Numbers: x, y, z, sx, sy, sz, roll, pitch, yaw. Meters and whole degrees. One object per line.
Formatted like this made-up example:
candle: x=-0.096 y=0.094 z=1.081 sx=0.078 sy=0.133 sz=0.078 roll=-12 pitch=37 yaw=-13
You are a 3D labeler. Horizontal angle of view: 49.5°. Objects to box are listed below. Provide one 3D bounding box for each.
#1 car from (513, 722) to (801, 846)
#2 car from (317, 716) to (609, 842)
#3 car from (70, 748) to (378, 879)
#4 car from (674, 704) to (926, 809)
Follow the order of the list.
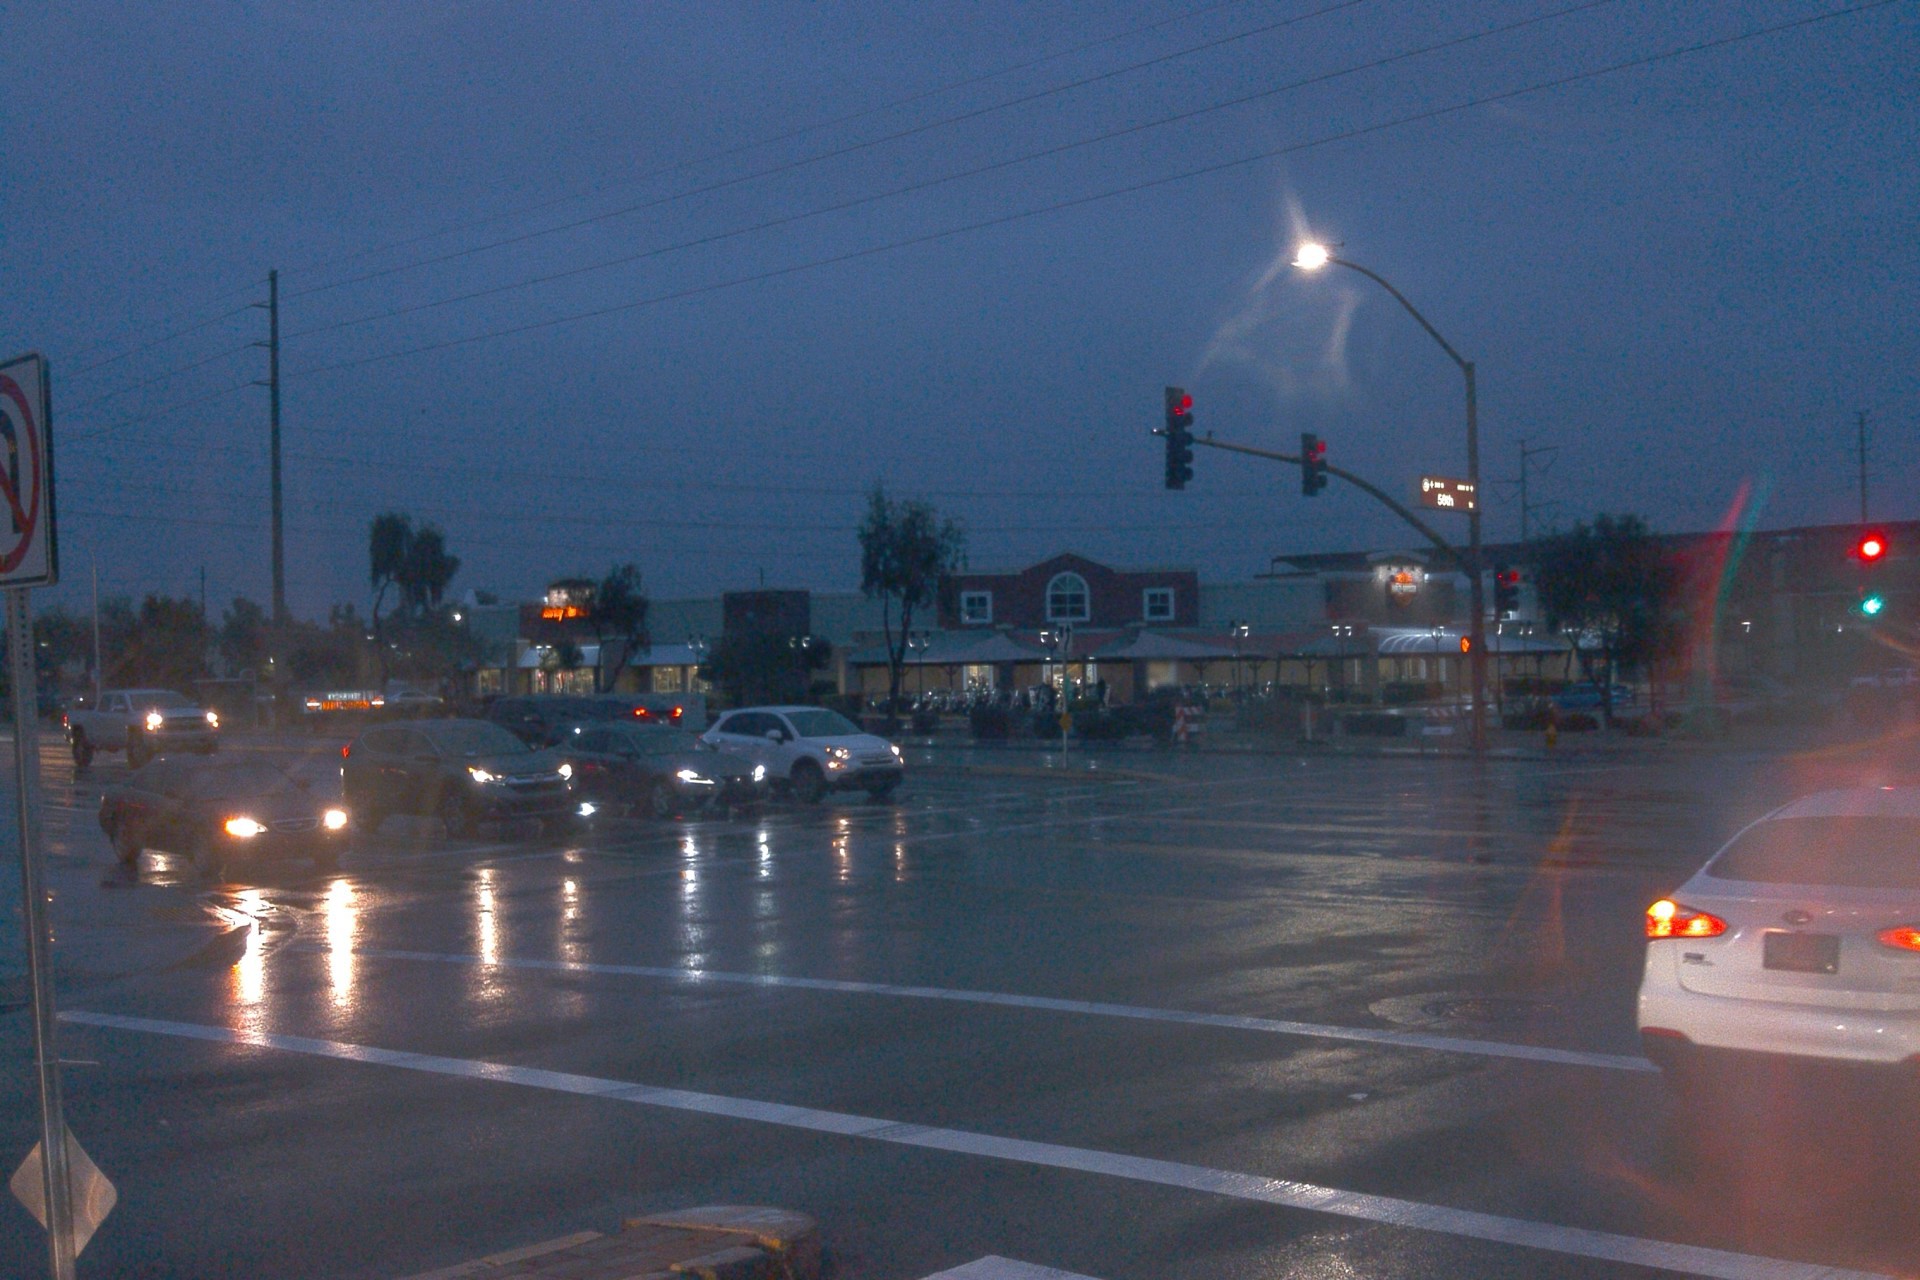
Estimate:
car: x=-4.984 y=2.268 z=33.903 sx=4.666 sy=1.730 sz=2.267 roll=-1 pitch=-1 yaw=44
car: x=-7.632 y=2.042 z=31.791 sx=4.544 sy=1.660 sz=2.258 roll=-1 pitch=-1 yaw=45
car: x=-9.827 y=2.228 z=27.630 sx=2.094 sy=1.390 sz=4.778 roll=1 pitch=-1 yaw=-43
car: x=-2.840 y=1.979 z=36.374 sx=4.278 sy=1.630 sz=2.095 roll=-1 pitch=-1 yaw=45
